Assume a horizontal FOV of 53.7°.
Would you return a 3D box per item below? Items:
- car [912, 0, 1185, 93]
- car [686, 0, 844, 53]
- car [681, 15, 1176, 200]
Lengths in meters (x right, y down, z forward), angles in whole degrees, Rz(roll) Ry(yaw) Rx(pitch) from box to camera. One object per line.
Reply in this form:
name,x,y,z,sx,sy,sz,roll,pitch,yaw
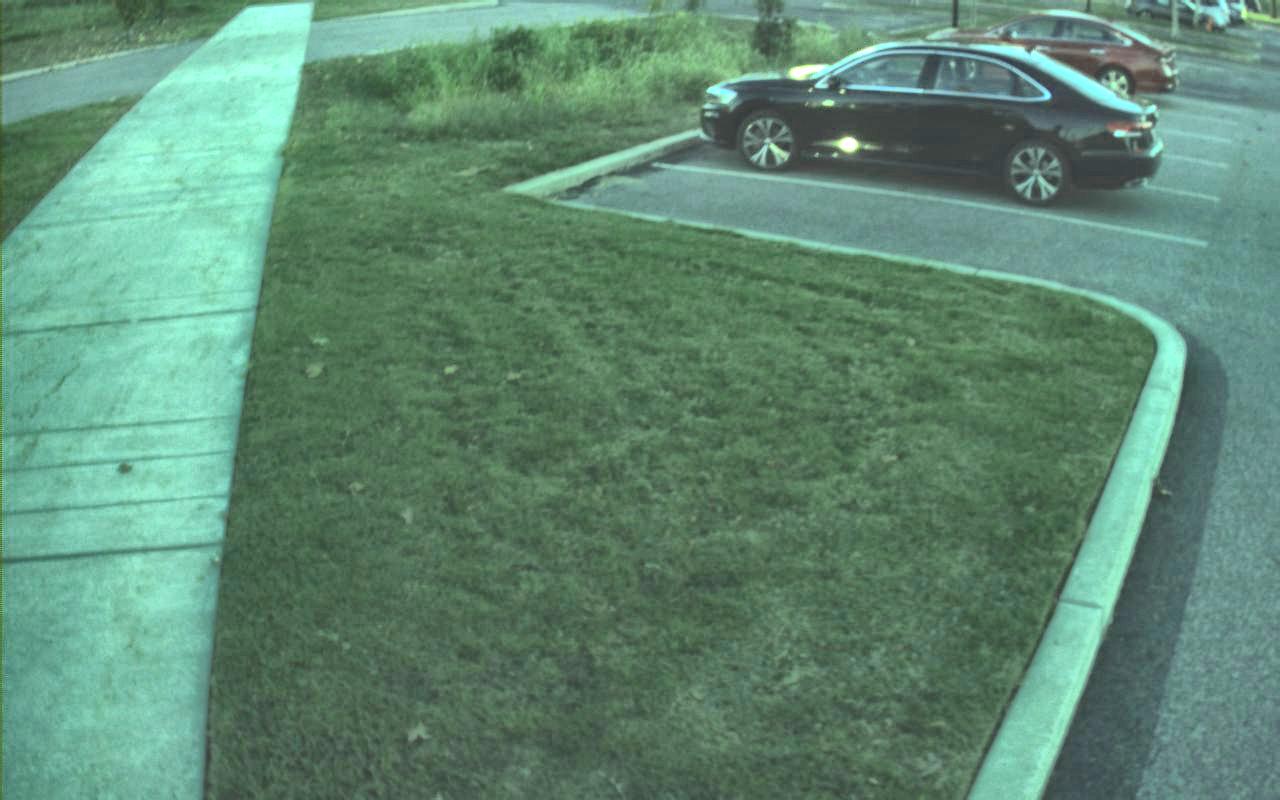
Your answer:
car,7.388,-6.442,20.956,4.795,1.633,2.032,8,18,28
car,2.451,-7.326,22.725,1.993,1.719,4.576,4,17,18
car,3.008,-3.064,12.211,4.801,1.556,2.011,7,18,27
